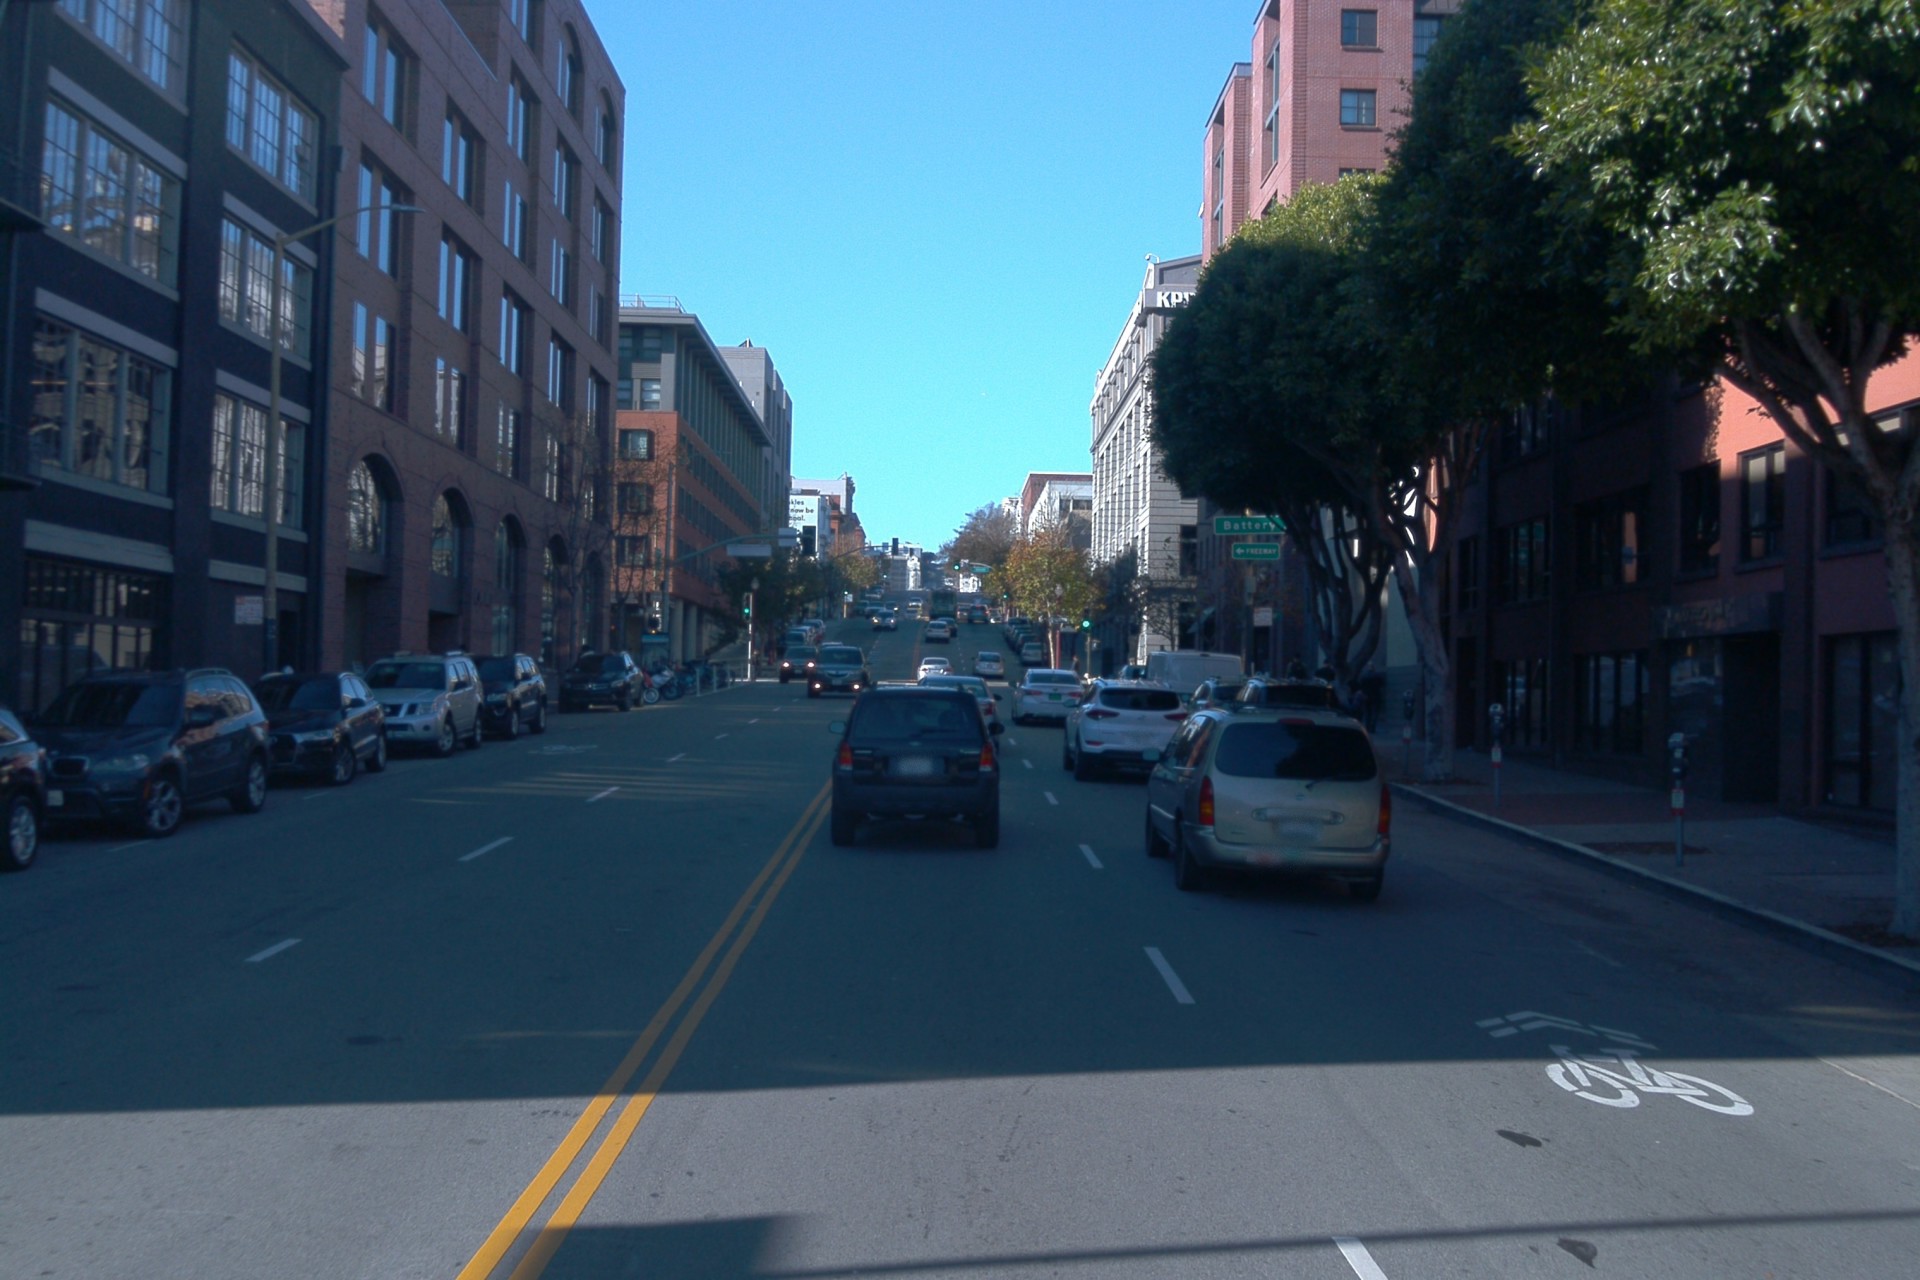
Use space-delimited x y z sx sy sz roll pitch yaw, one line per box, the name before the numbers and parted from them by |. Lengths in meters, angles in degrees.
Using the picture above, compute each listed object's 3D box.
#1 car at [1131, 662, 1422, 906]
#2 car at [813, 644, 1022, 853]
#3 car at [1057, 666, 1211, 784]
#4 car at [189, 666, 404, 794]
car | 2.936 1.311 20.396 2.113 2.070 4.763 1 -2 0
car | -0.442 1.170 23.502 2.096 2.100 4.545 1 -2 0
car | 2.809 1.384 34.626 2.088 1.800 4.683 1 -2 -1
car | -9.724 1.300 30.878 2.081 1.740 4.496 1 -2 -5
